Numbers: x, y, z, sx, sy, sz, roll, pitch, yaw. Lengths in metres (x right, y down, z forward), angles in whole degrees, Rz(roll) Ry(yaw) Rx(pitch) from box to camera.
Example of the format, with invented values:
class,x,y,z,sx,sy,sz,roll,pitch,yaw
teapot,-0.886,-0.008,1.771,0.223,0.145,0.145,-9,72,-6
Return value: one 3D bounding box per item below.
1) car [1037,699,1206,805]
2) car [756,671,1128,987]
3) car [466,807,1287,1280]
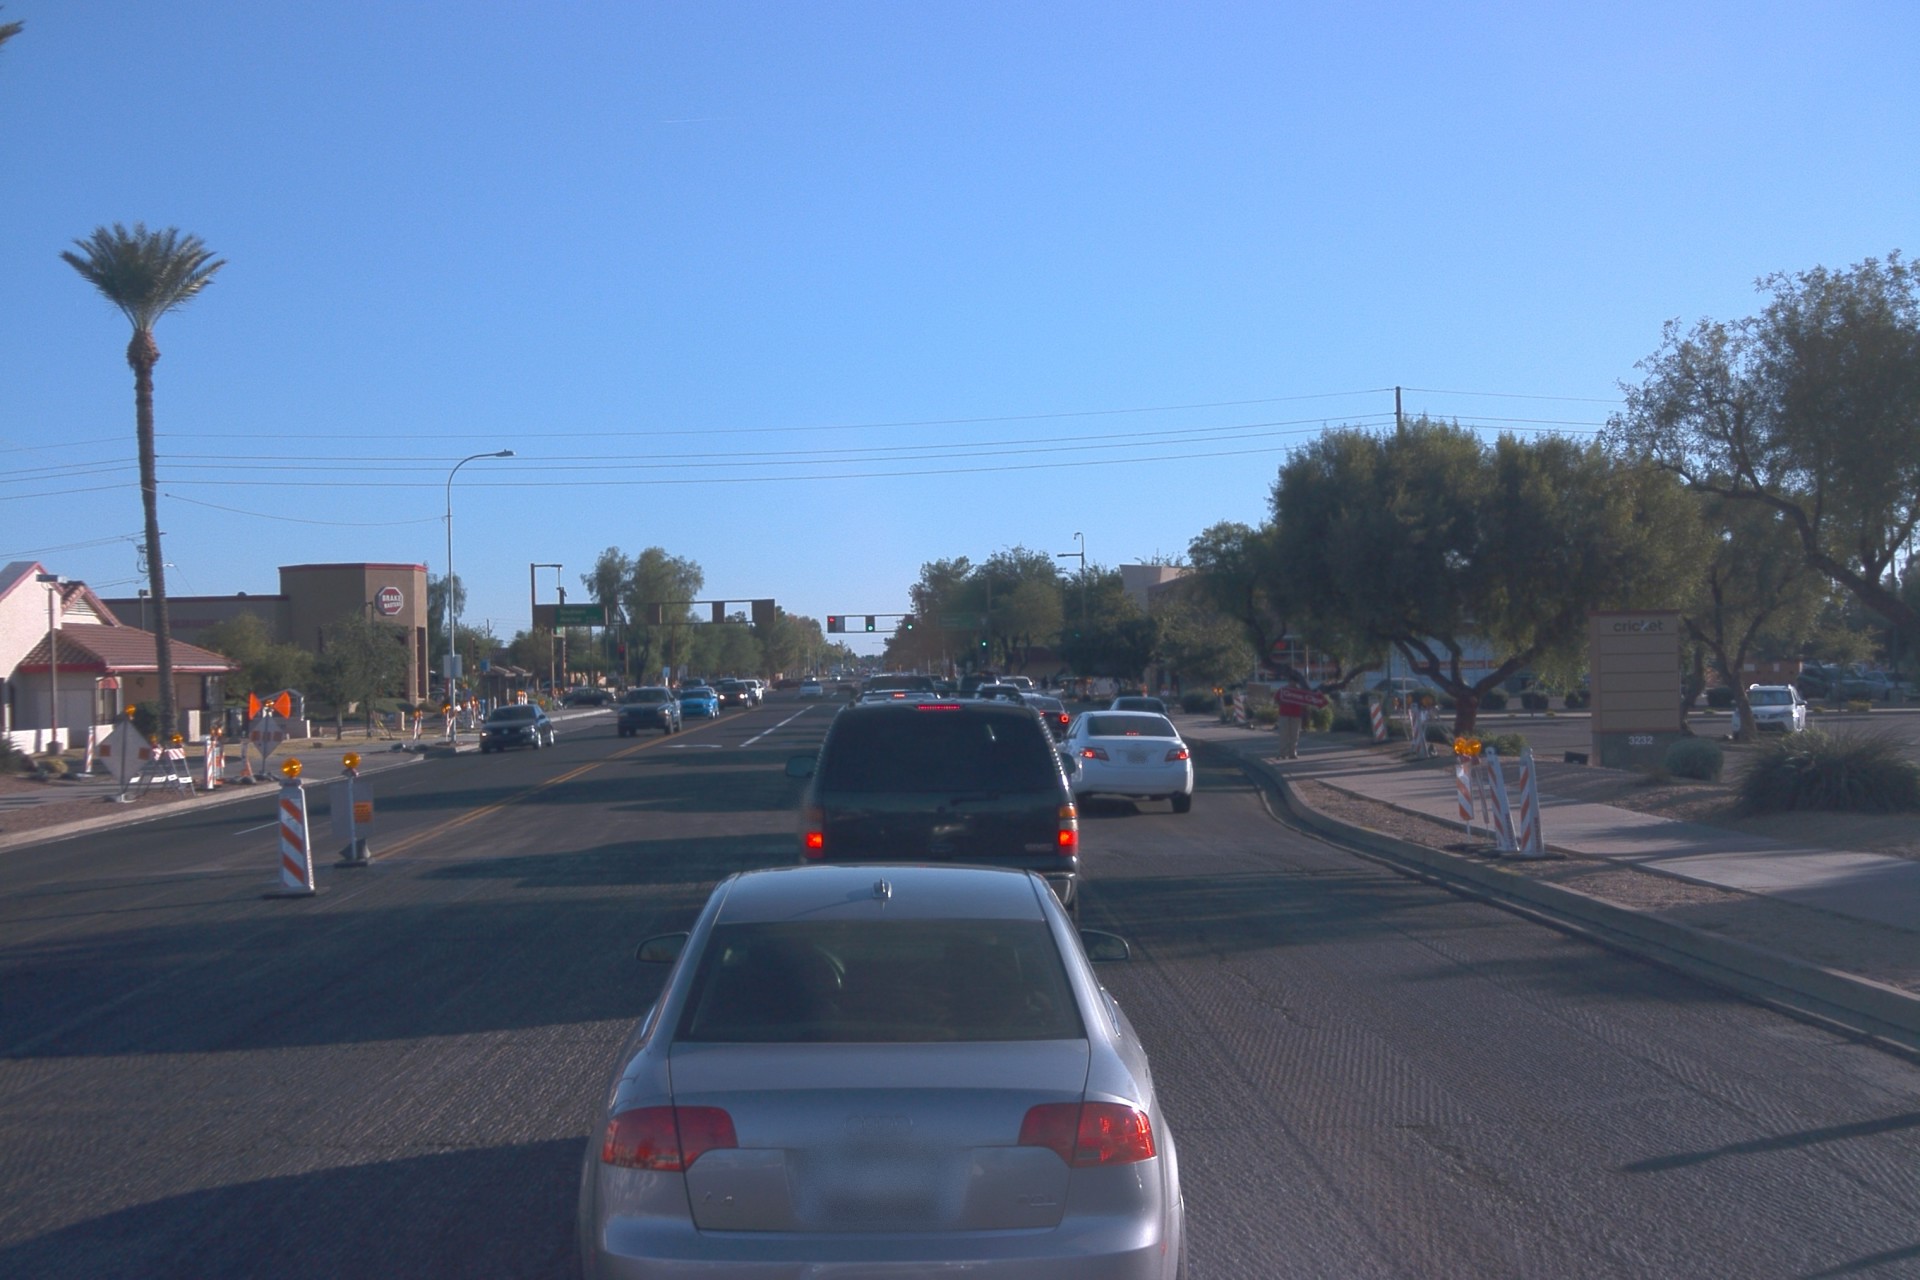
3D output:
class,x,y,z,sx,sy,sz,roll,pitch,yaw
car,2.409,1.673,32.141,2.124,1.470,4.694,0,-1,-1
car,-0.204,1.262,15.975,2.405,2.040,5.063,0,-1,-2
car,-0.266,1.473,7.353,2.033,1.480,4.404,0,-1,-2
